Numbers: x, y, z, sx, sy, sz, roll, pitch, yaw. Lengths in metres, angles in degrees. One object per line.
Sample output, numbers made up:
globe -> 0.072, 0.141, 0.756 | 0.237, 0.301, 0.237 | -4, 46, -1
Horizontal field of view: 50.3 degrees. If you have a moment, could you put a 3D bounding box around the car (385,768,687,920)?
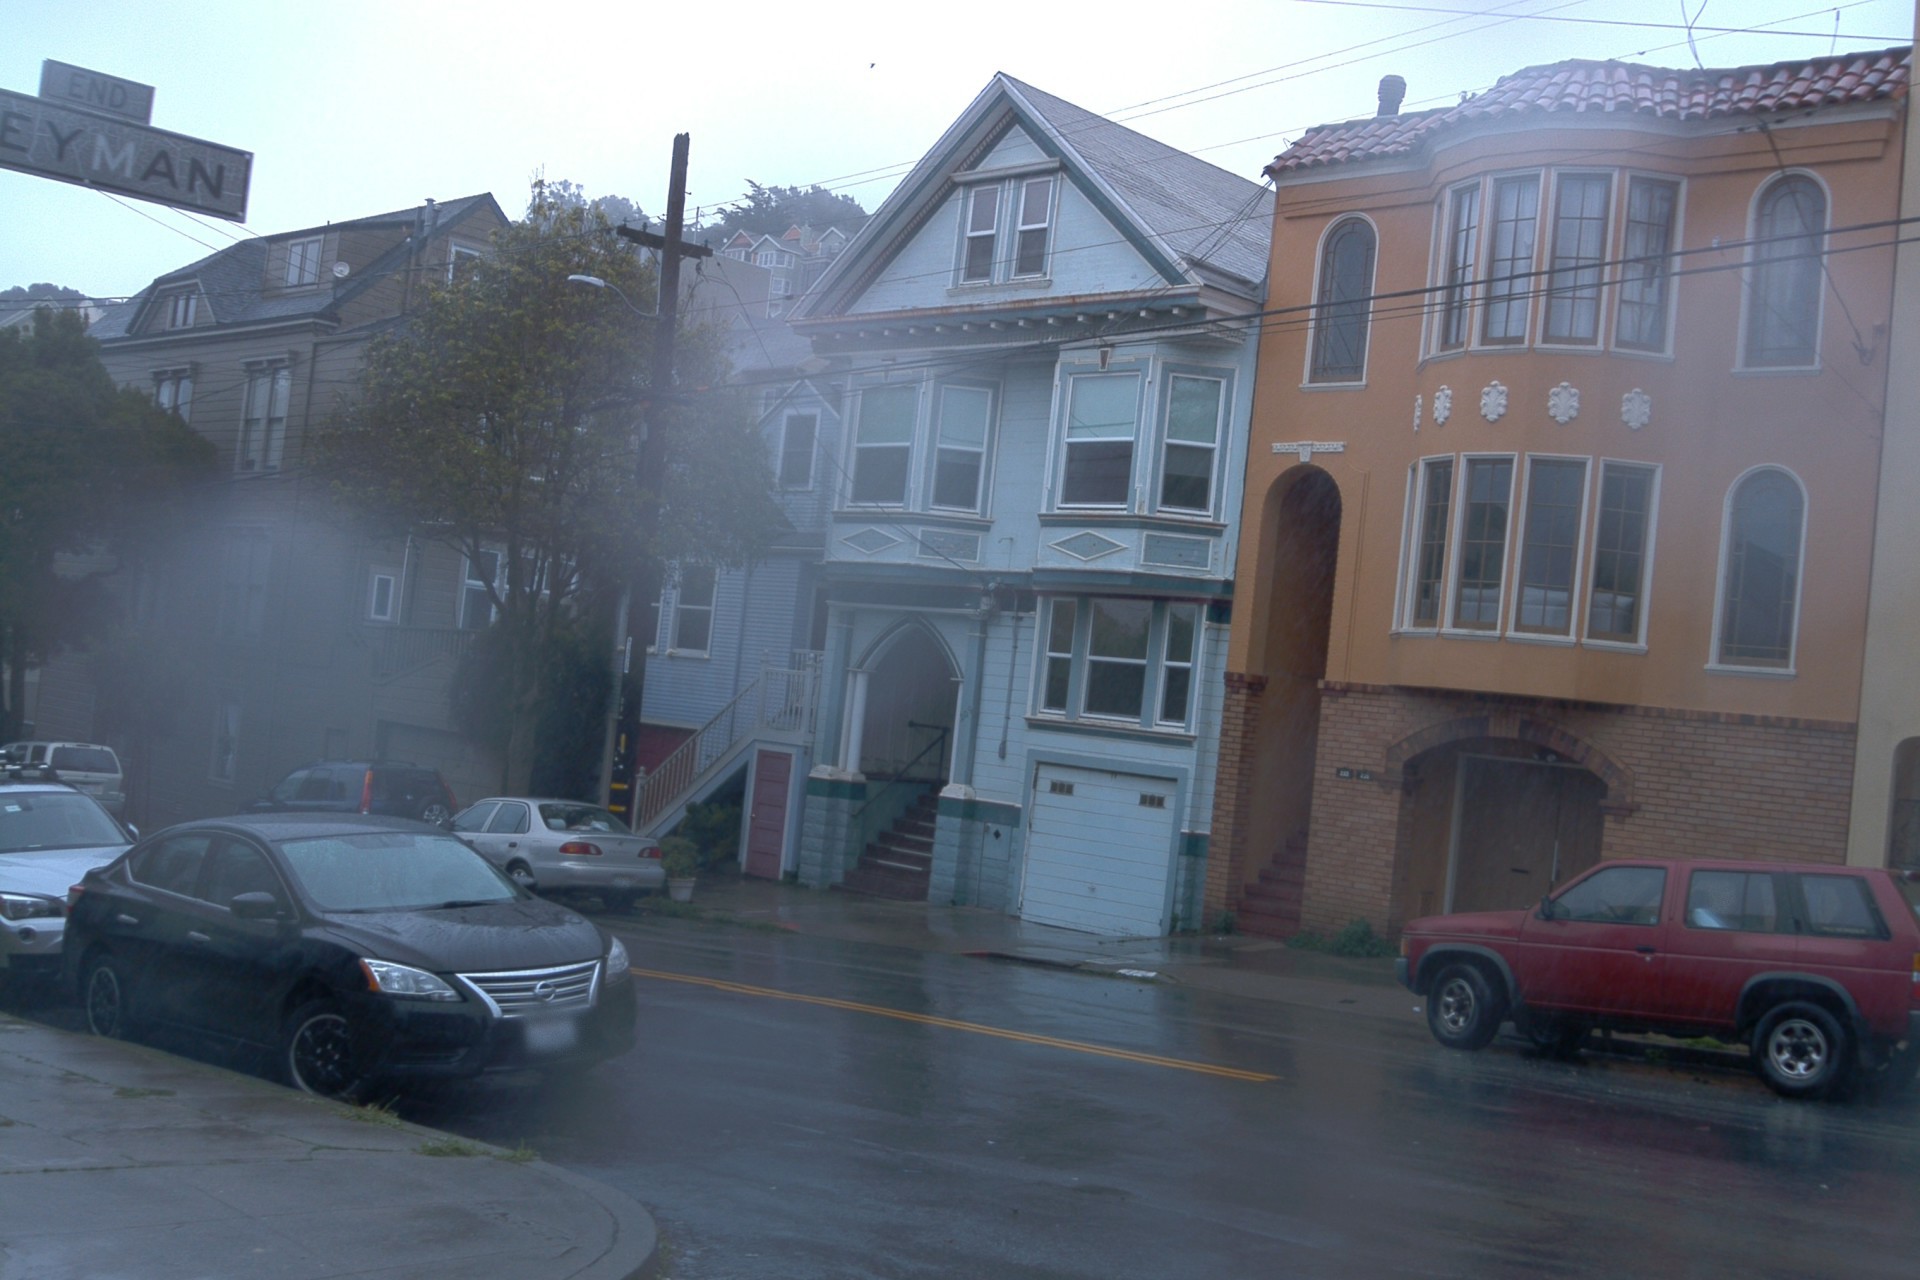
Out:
car -> -5.514, 2.542, 26.316 | 4.248, 1.490, 1.679 | 1, 1, 44

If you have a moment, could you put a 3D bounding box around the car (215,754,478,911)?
car -> -9.026, 2.734, 29.950 | 4.158, 1.850, 1.892 | 1, 1, 44

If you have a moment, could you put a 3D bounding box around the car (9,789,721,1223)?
car -> -3.692, 1.936, 12.187 | 4.550, 1.700, 2.068 | 1, 1, 44
